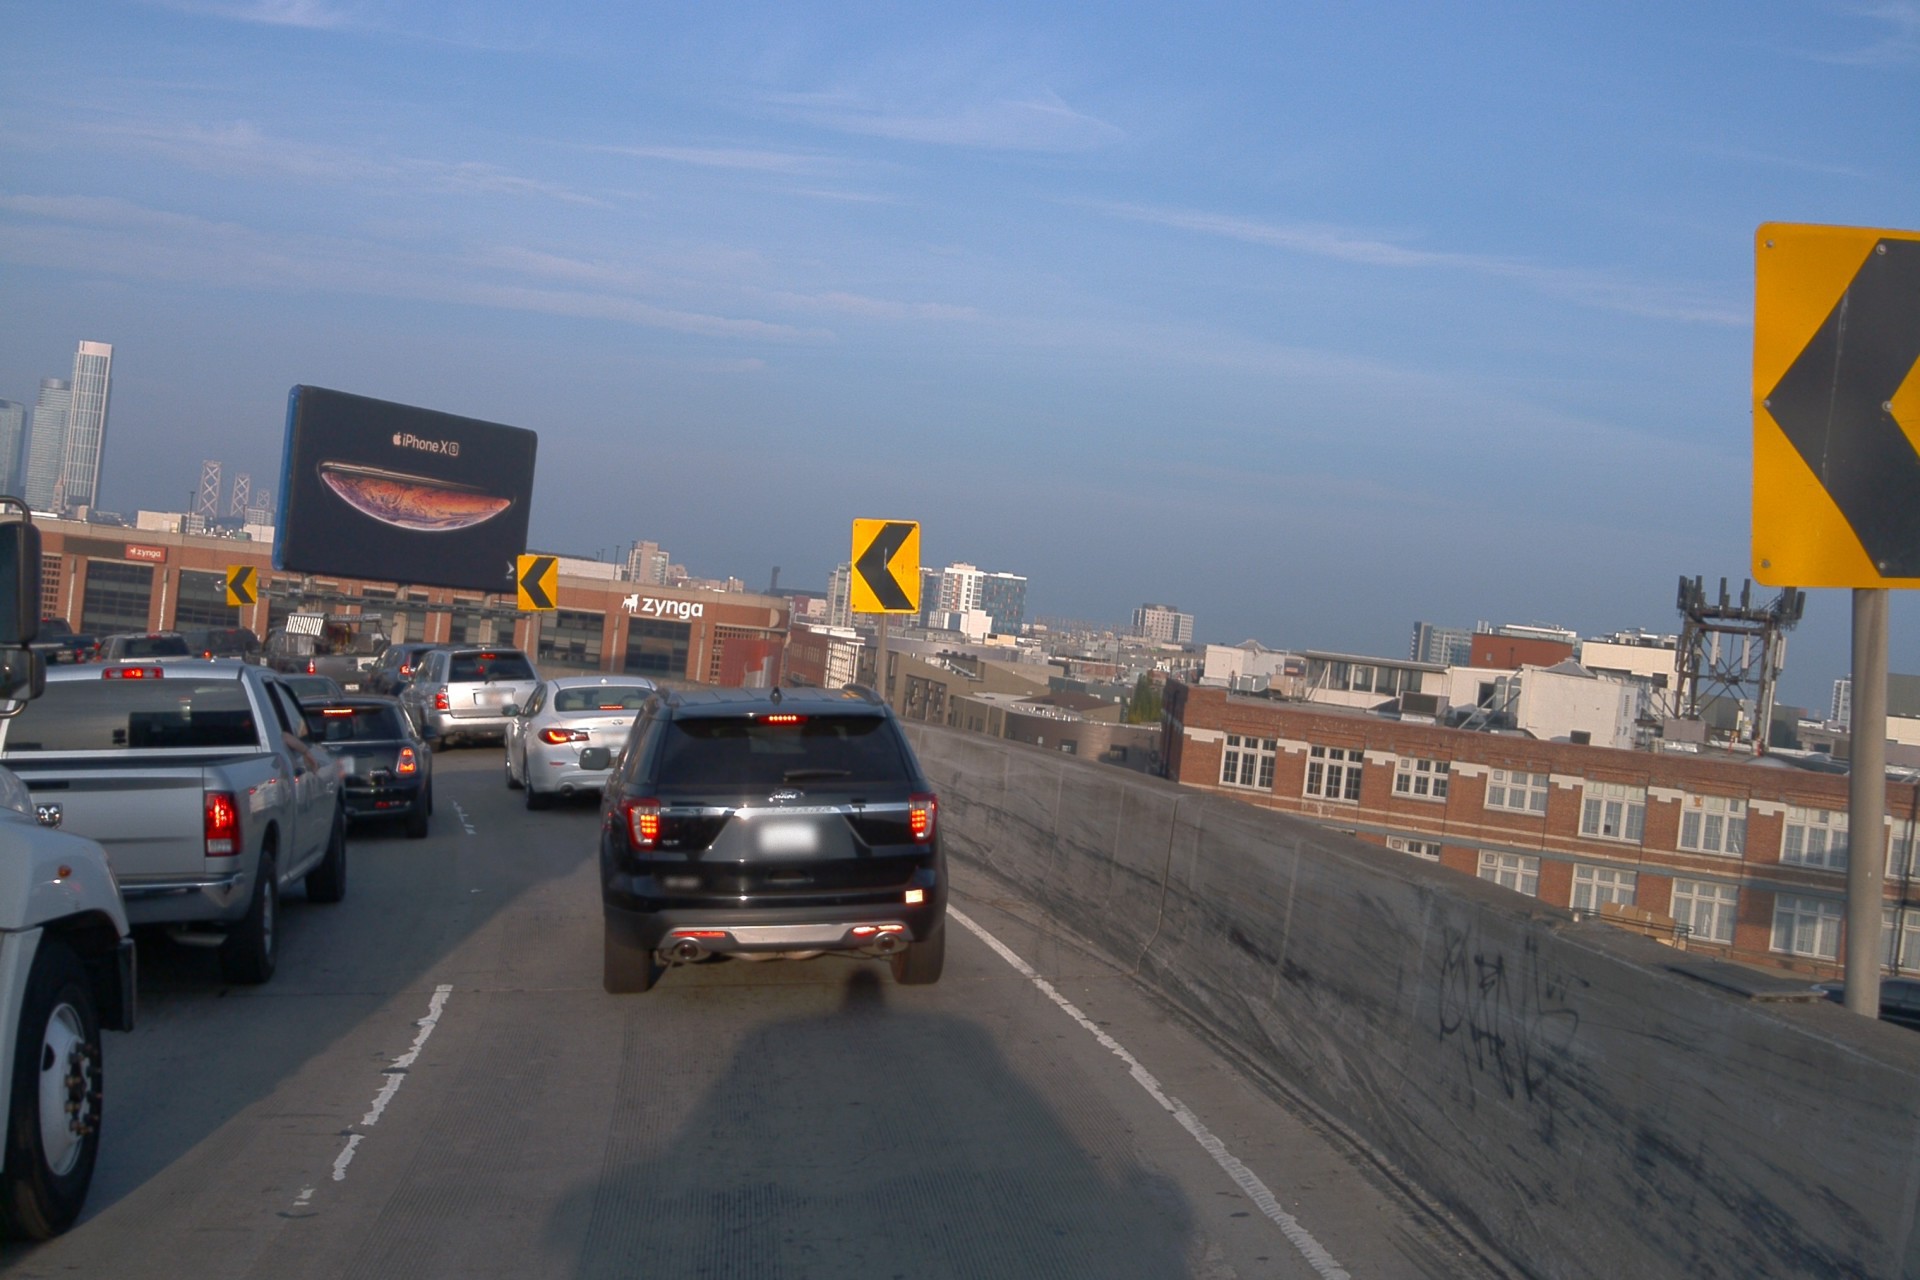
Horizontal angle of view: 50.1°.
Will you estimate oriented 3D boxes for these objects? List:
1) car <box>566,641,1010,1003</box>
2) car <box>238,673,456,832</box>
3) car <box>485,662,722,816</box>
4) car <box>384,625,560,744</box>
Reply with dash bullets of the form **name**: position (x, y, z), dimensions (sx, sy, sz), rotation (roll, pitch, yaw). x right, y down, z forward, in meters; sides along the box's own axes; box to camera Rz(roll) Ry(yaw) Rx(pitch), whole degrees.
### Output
- **car**: position (-1.273, 0.945, 13.227), dimensions (2.327, 1.850, 4.876), rotation (0, 0, -9)
- **car**: position (-6.323, 1.099, 21.566), dimensions (1.934, 1.411, 4.084), rotation (0, 0, -13)
- **car**: position (-4.371, 1.090, 24.584), dimensions (2.144, 1.590, 4.509), rotation (0, 0, -18)
- **car**: position (-8.154, 0.677, 33.985), dimensions (1.992, 1.820, 4.393), rotation (0, 0, -25)
